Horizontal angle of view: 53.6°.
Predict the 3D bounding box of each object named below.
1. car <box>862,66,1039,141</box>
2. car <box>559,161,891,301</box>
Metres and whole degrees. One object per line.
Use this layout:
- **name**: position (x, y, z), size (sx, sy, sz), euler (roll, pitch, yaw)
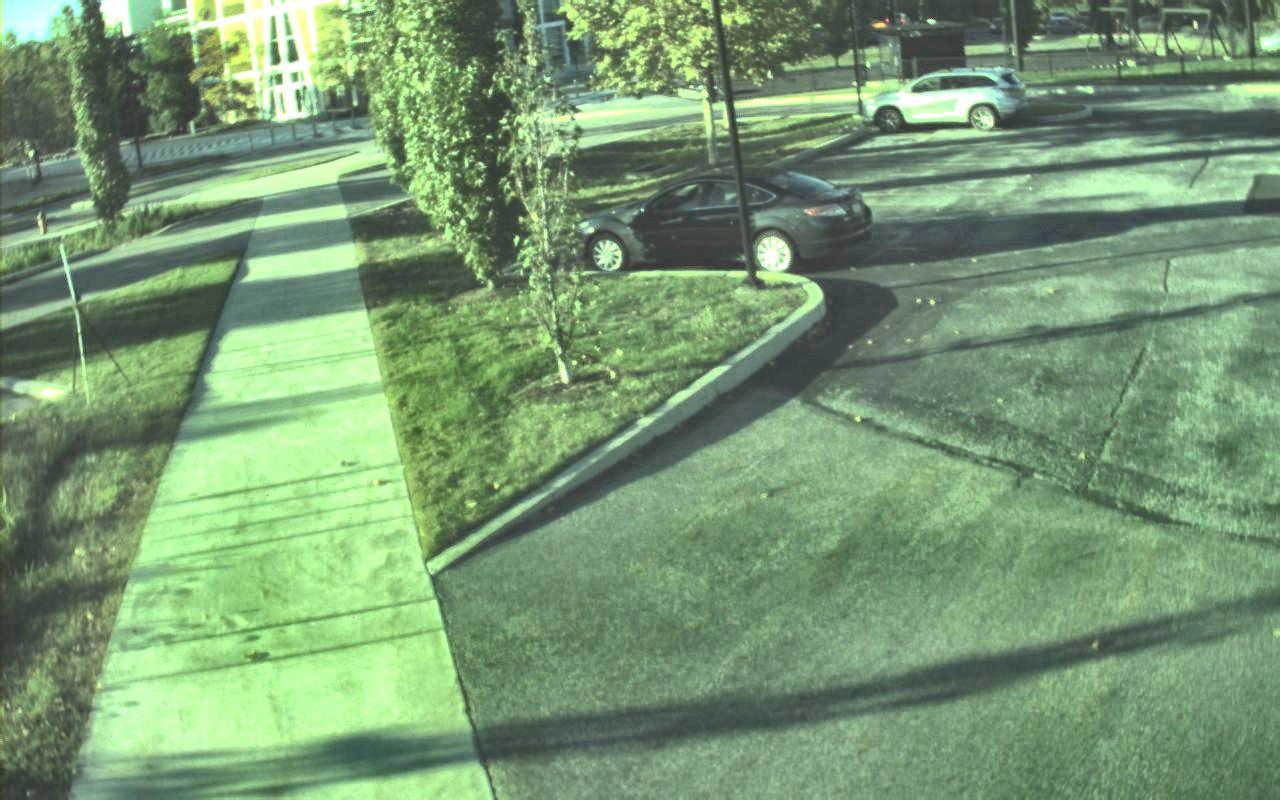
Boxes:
- **car**: position (8.887, -8.463, 34.487), size (4.818, 1.892, 2.079), euler (7, 17, 27)
- **car**: position (1.278, -2.660, 19.032), size (4.636, 1.610, 1.991), euler (8, 17, 28)
